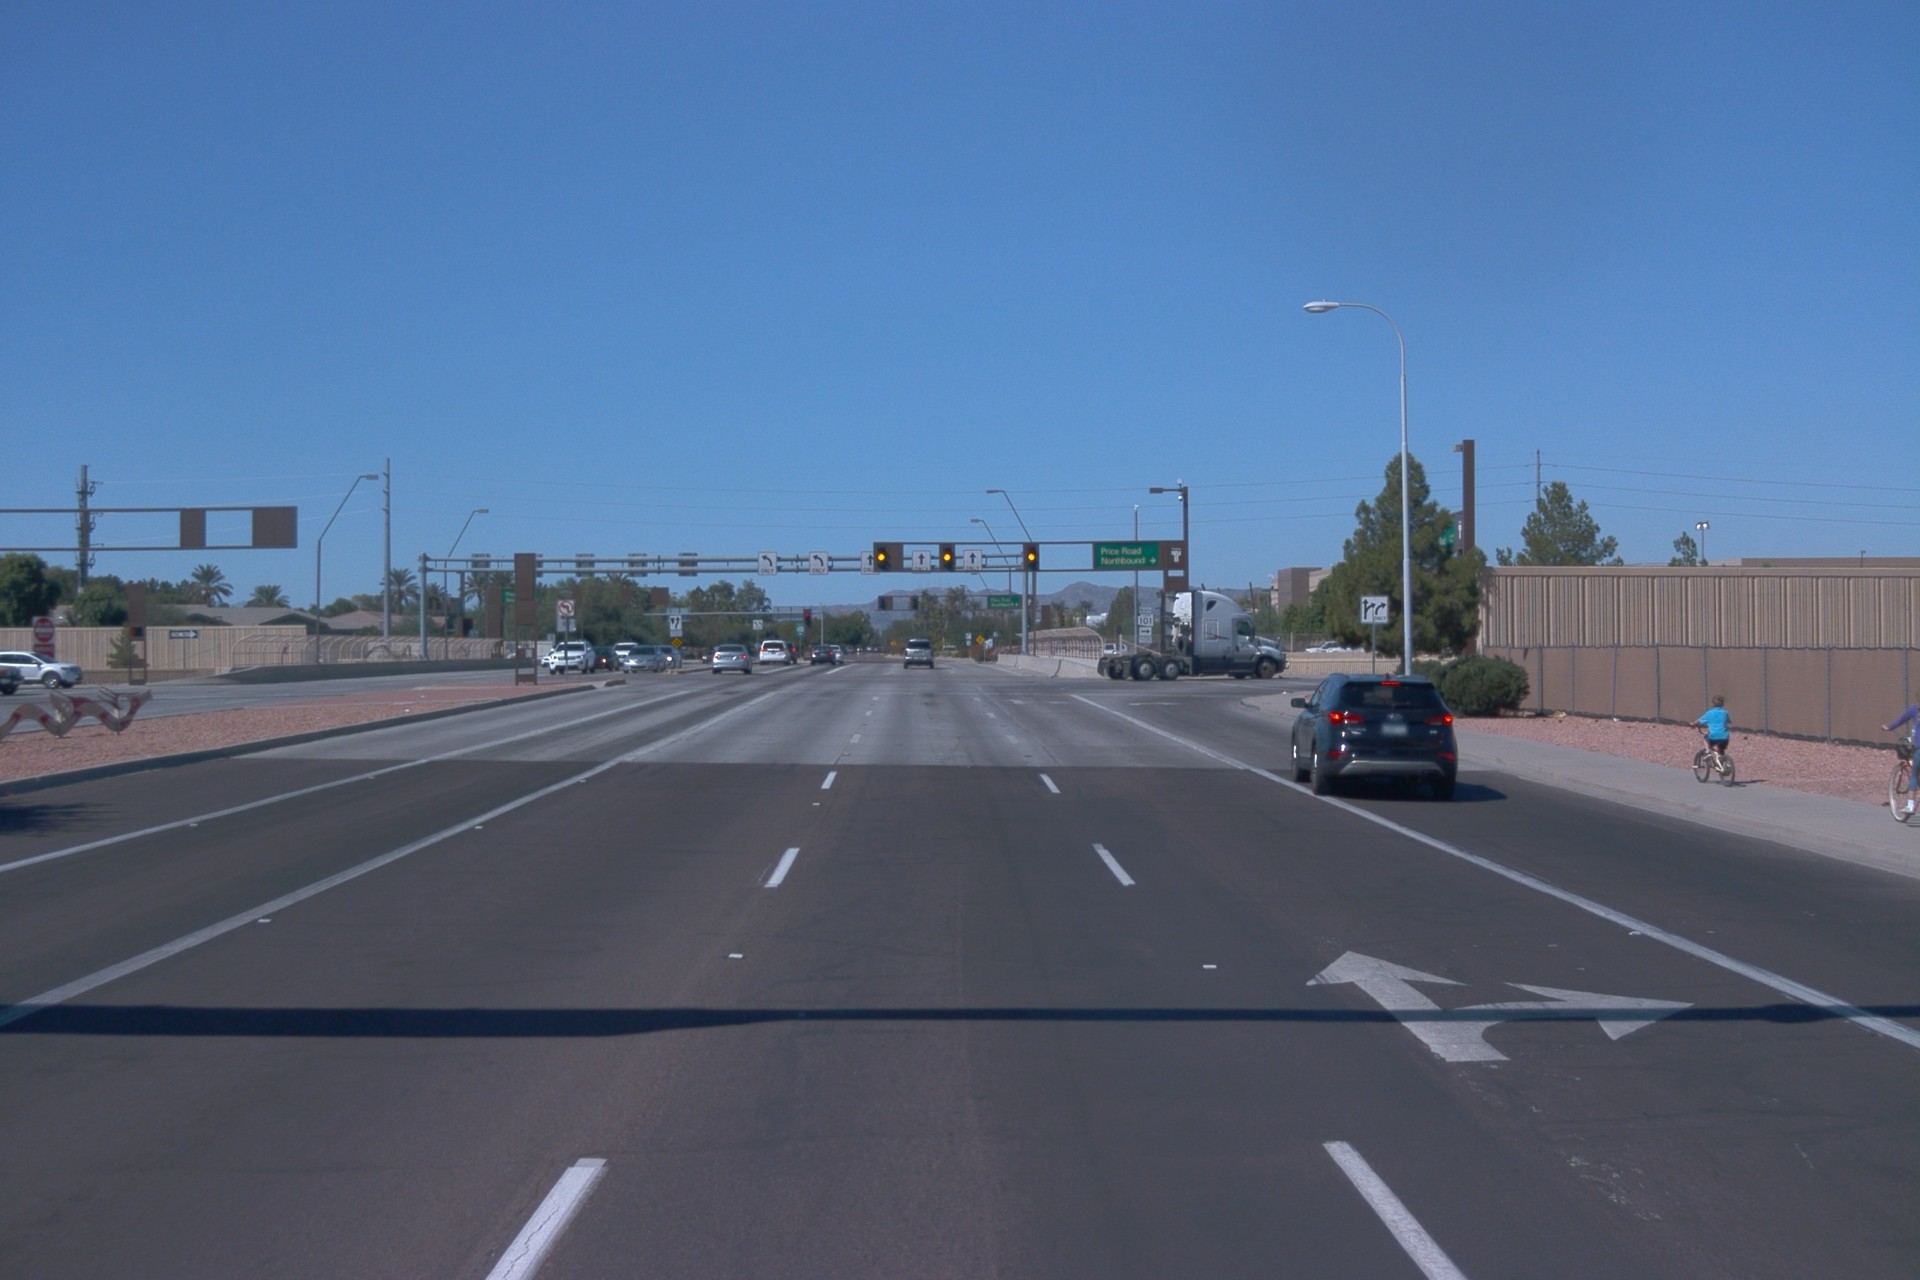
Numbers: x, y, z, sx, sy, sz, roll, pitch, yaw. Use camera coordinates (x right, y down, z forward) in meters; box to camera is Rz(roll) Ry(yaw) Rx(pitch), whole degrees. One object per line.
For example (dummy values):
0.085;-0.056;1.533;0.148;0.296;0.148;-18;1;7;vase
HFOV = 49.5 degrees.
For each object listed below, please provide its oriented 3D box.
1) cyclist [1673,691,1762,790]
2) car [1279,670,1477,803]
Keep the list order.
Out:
10.499;1.375;28.928;0.670;1.320;1.442;1;-1;-2;cyclist
5.875;1.307;29.864;2.155;1.730;4.730;1;-1;4;car
